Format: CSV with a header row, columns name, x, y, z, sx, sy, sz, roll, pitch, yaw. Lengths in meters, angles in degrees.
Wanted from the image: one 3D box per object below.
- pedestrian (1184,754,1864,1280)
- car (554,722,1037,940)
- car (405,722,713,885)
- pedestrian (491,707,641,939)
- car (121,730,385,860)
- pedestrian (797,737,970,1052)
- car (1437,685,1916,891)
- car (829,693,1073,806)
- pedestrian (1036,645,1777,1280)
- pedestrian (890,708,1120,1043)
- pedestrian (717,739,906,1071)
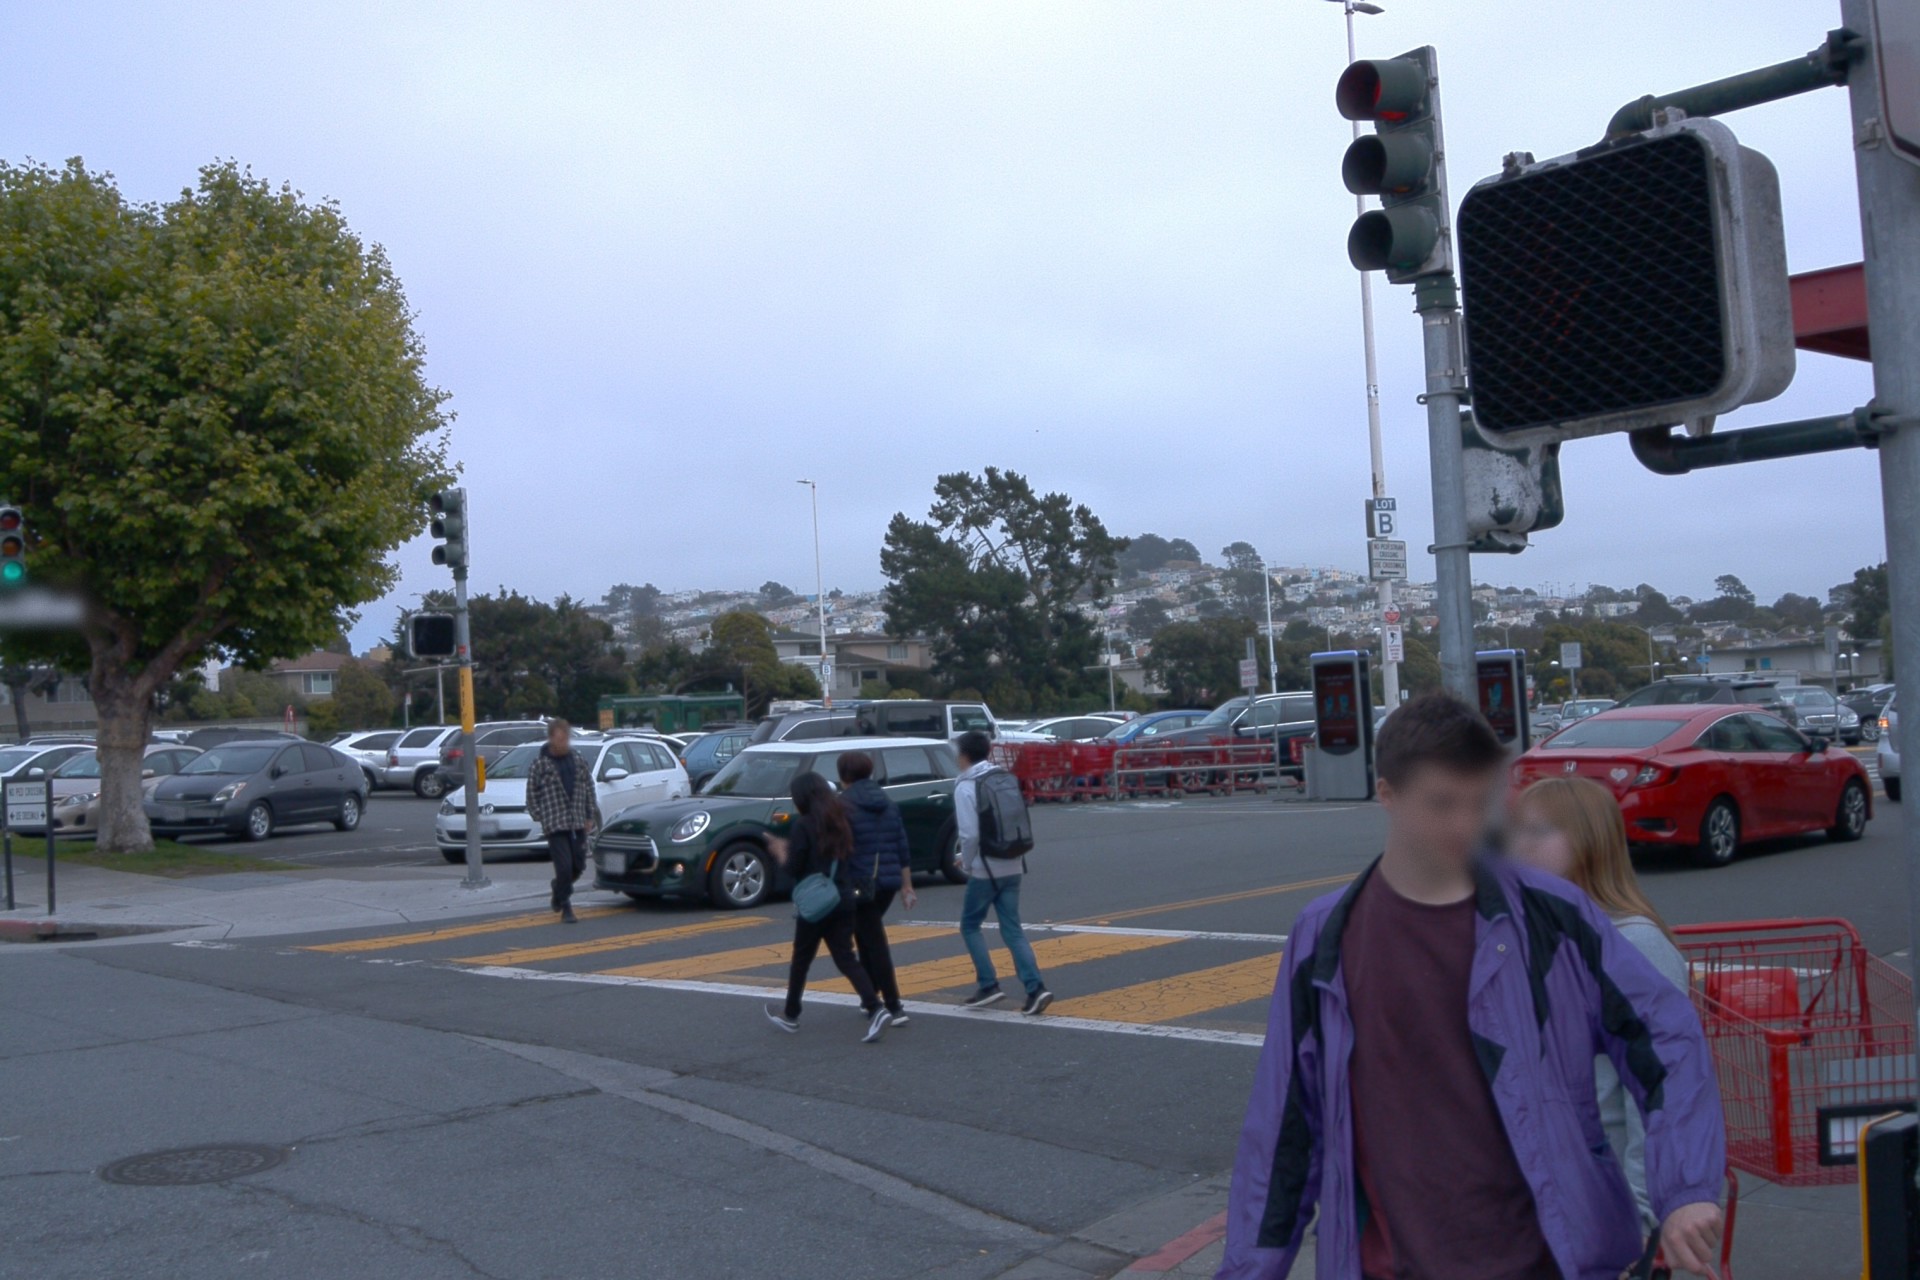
name,x,y,z,sx,sy,sz,roll,pitch,yaw
pedestrian,1.171,1.125,4.316,0.948,1.680,1.013,0,0,-40
car,-1.449,1.650,18.940,4.062,1.580,1.929,-1,1,-40
car,-4.768,1.910,25.188,2.006,1.570,4.451,0,1,14
pedestrian,-3.356,1.514,17.461,0.855,1.820,1.277,0,0,-31
car,-10.709,2.302,31.496,1.853,1.600,4.309,0,1,13
pedestrian,-0.436,1.399,11.620,0.627,1.650,0.762,0,0,-41
car,6.779,1.261,19.209,4.623,1.526,2.296,-1,1,-42
car,-0.167,1.894,36.357,3.845,1.780,1.944,0,0,-24
pedestrian,0.755,1.010,3.458,1.035,1.990,1.053,0,0,16
pedestrian,0.248,1.304,11.866,0.816,1.770,1.085,0,0,-38
pedestrian,-0.813,1.402,11.199,0.626,1.660,0.868,0,0,-41
